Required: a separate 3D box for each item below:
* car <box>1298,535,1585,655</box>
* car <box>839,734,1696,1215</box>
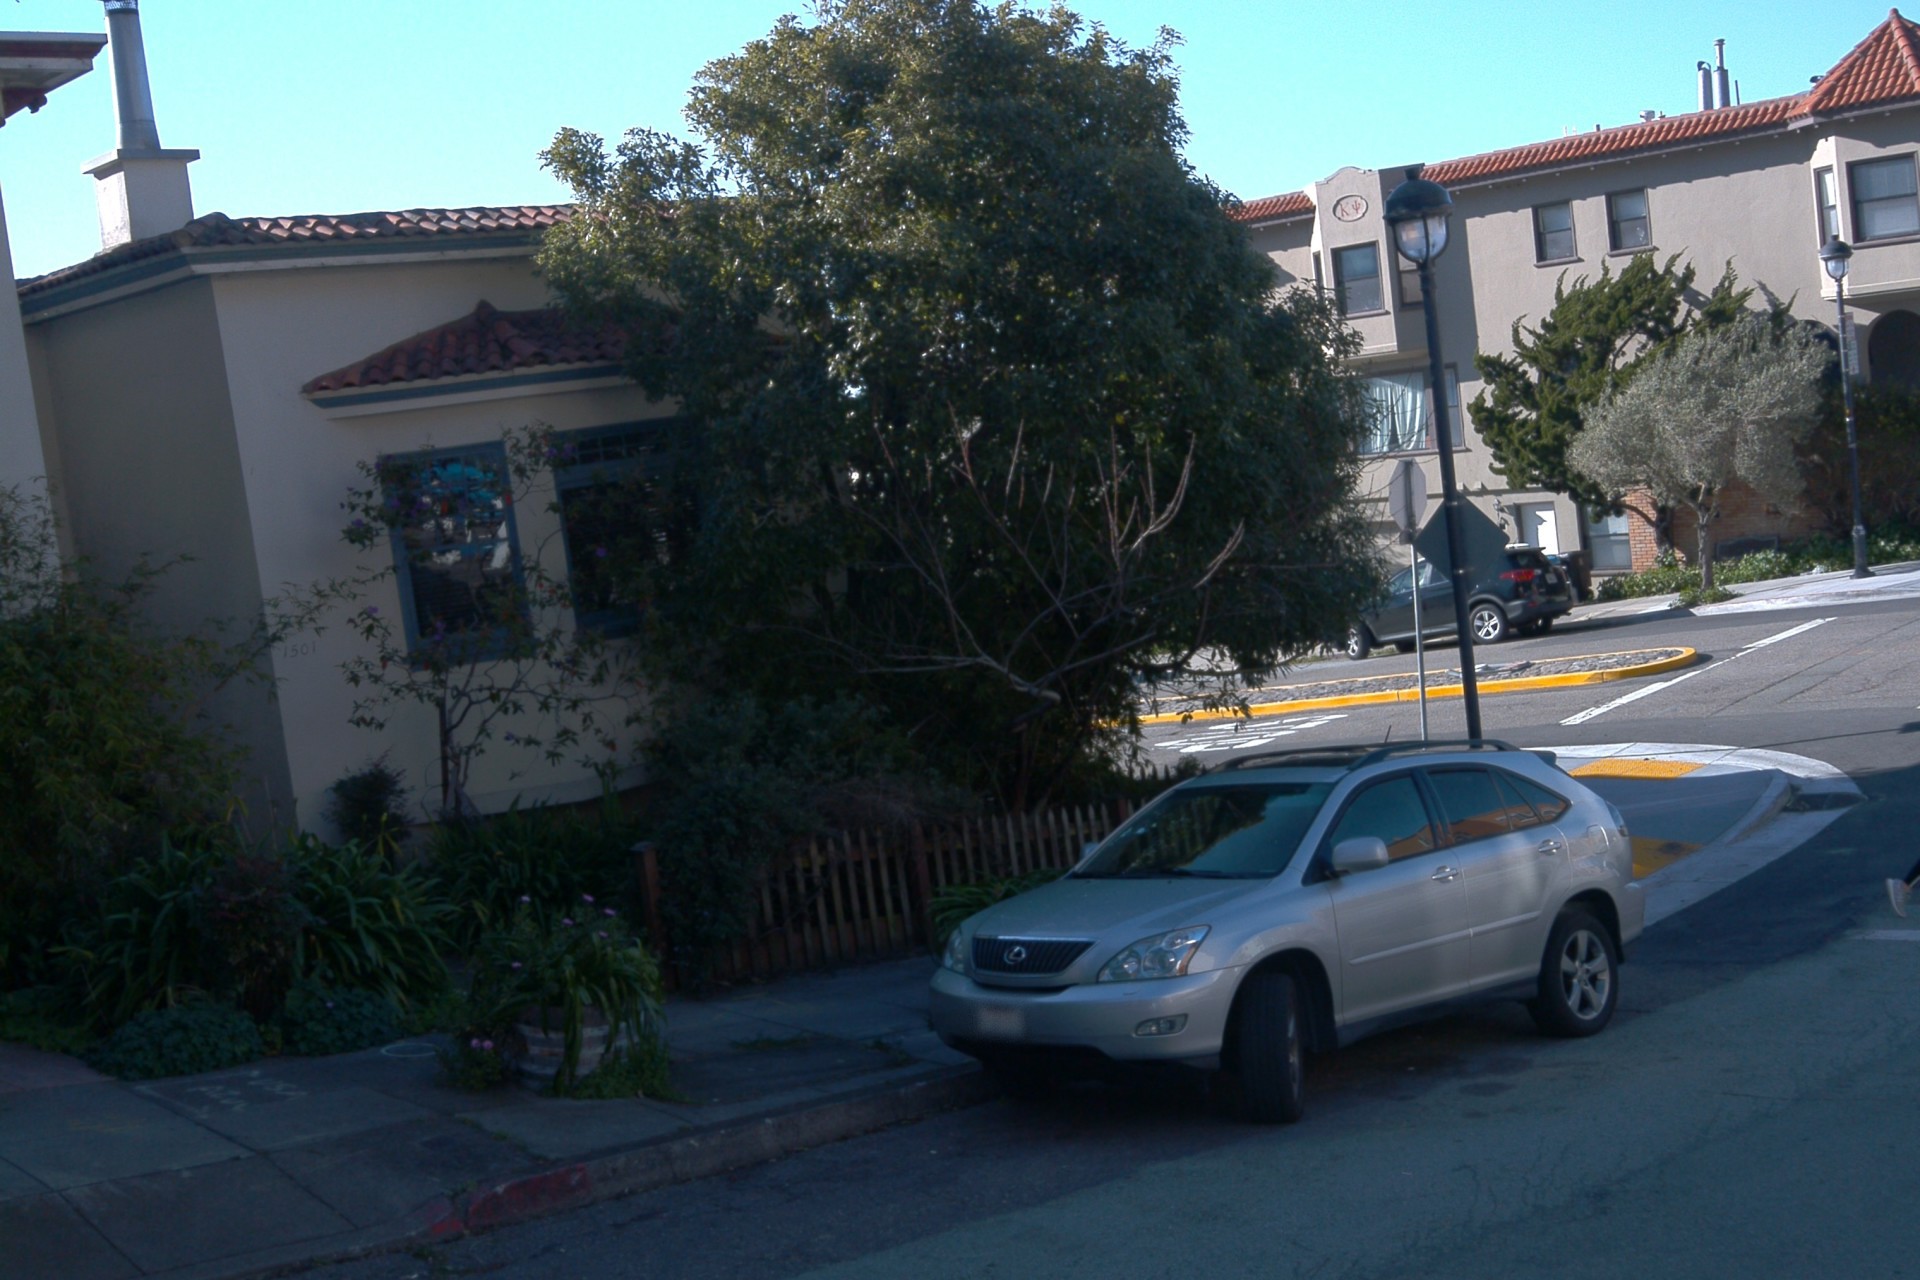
[{"bbox_3d":[8.620,-0.763,37.355,2.204,2.020,4.526,0,0,-45],"label":"car"},{"bbox_3d":[1.828,1.537,11.211,4.666,1.810,2.097,-1,0,-42],"label":"car"}]
